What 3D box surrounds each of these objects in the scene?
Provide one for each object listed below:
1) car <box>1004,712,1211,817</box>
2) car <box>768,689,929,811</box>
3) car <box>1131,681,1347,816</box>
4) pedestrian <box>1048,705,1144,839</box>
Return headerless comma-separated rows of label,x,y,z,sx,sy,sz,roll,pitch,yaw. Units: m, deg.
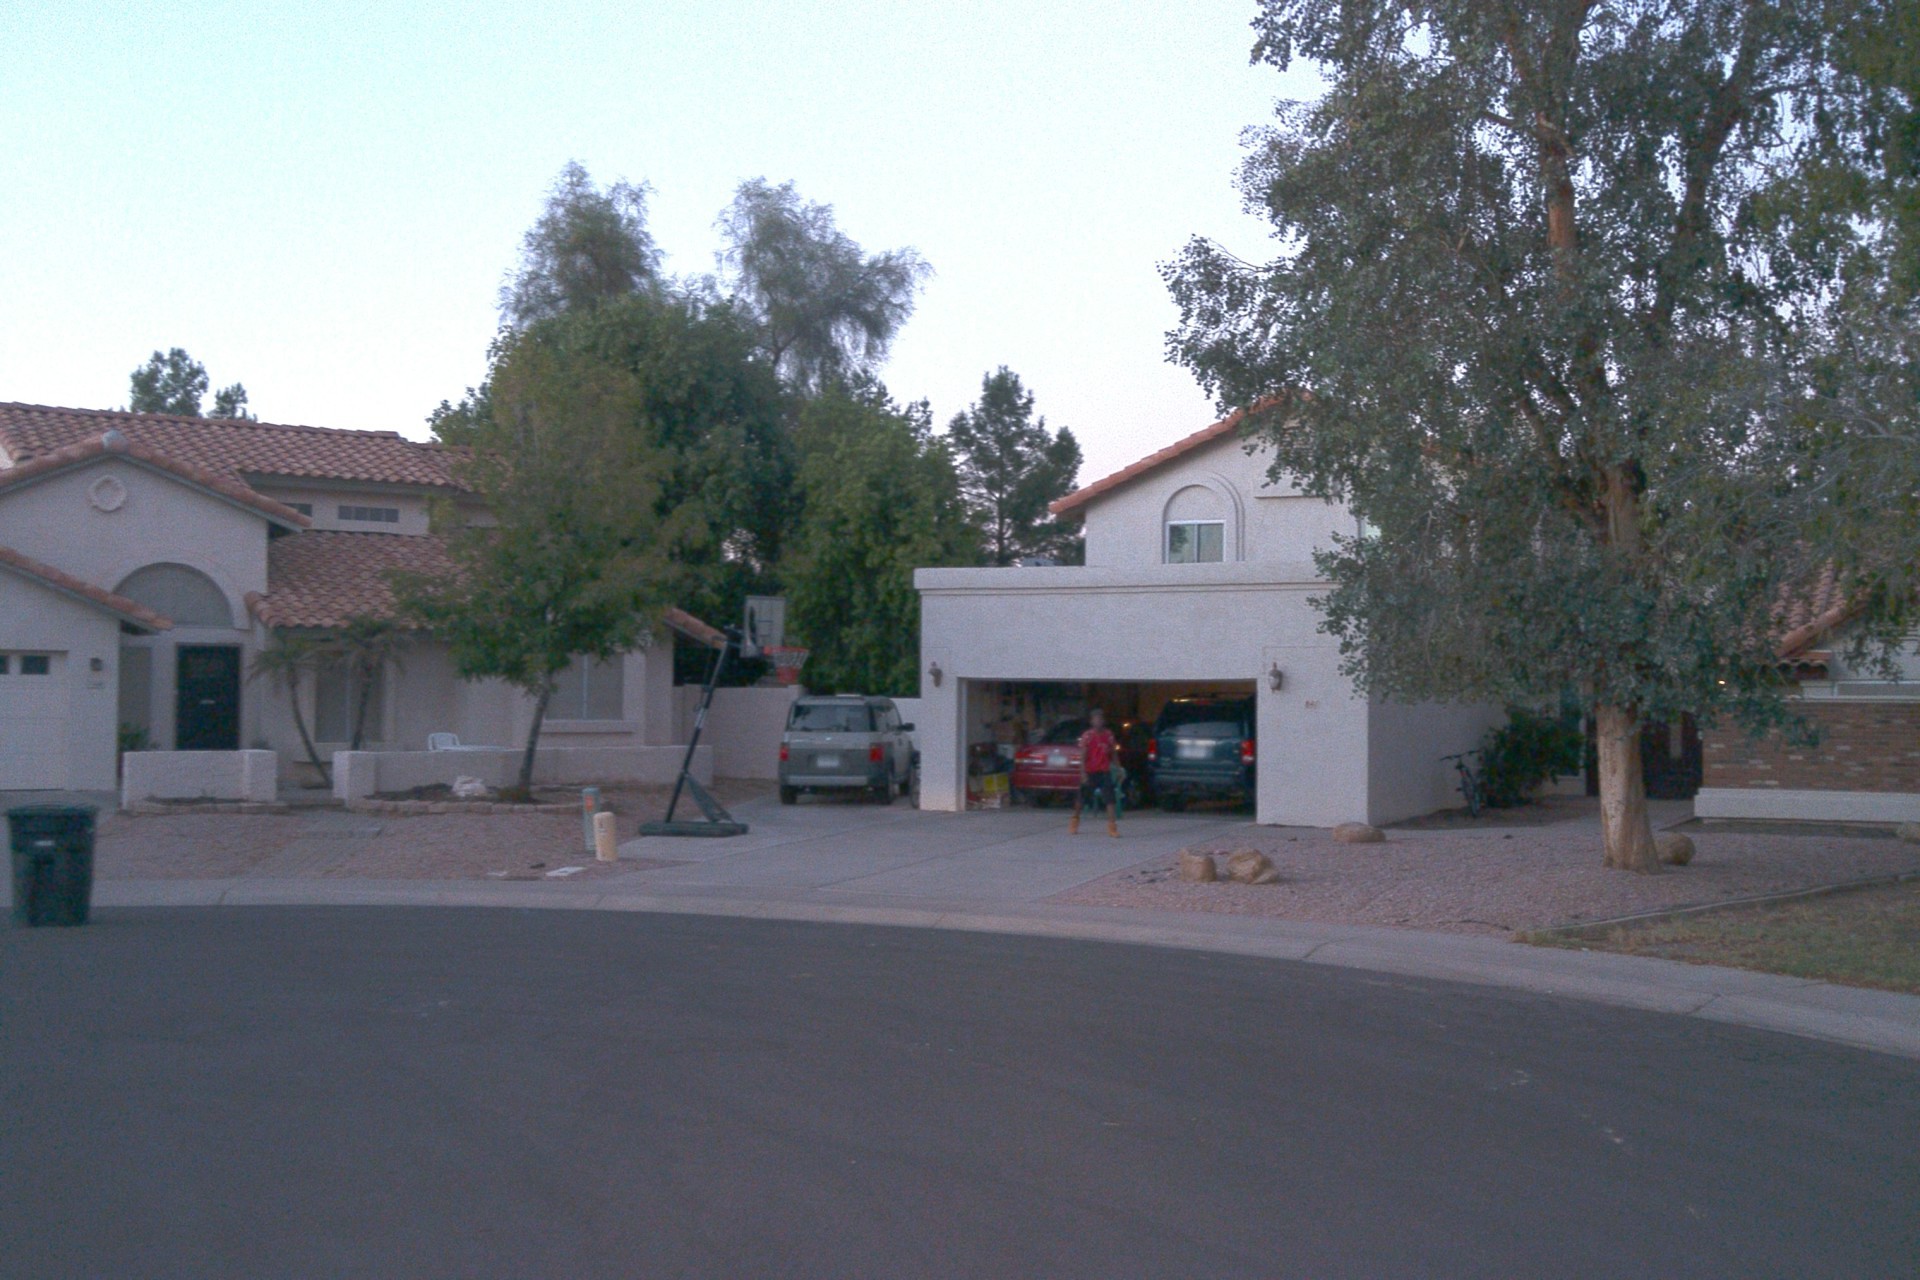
car,2.441,1.962,33.584,1.795,1.540,3.848,0,-2,30
car,-1.800,1.803,35.019,1.968,1.900,4.085,1,-2,7
car,4.449,1.671,32.722,1.952,1.960,3.934,0,-2,30
pedestrian,1.826,1.765,28.061,0.982,1.750,0.978,2,-2,-17
